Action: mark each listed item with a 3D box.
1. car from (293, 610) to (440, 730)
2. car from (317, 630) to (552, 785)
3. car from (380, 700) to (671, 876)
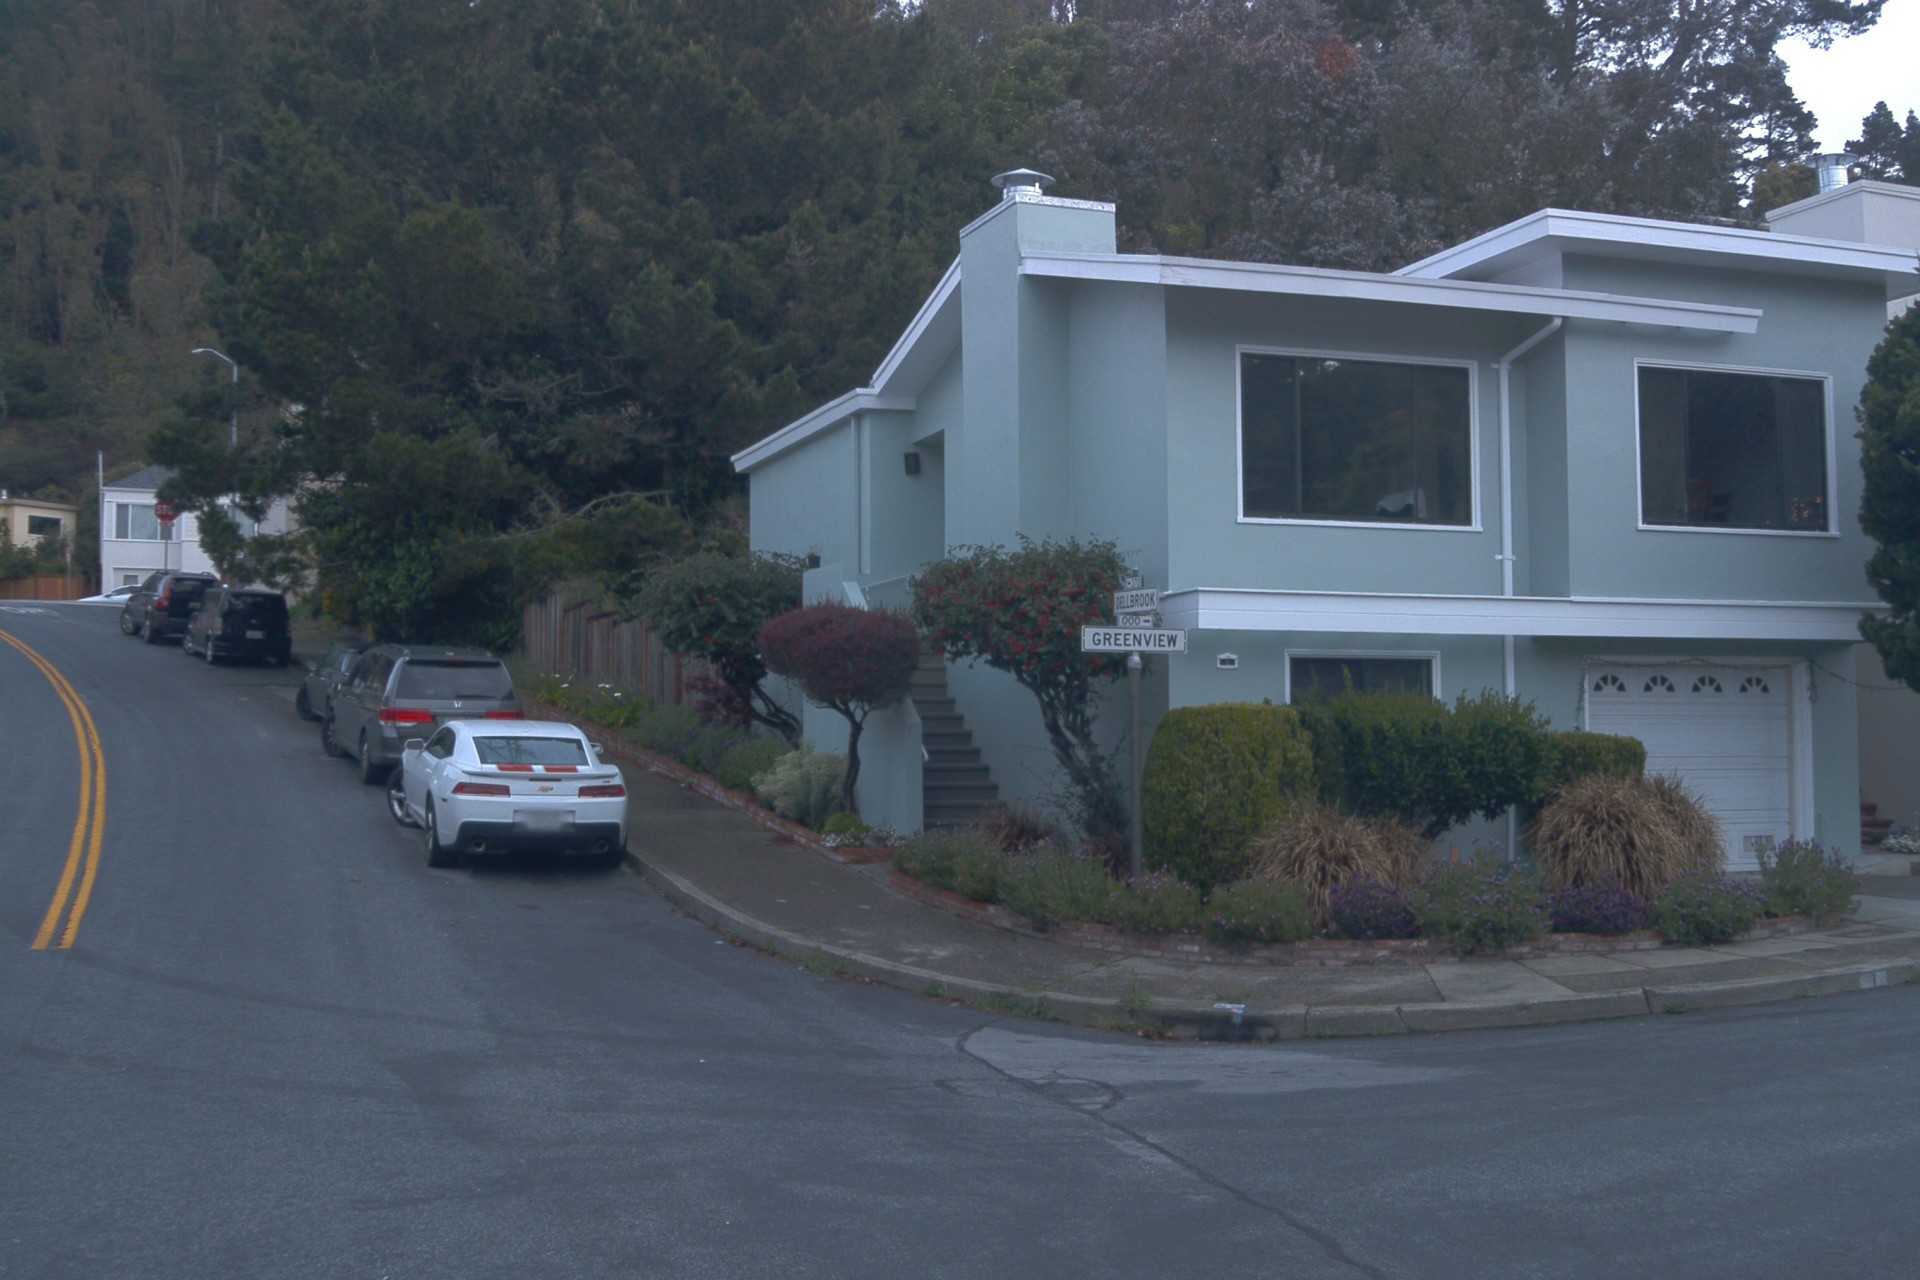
[{"bbox_3d":[-9.627,0.470,33.469,1.721,1.820,3.410,0,0,-26],"label":"car"},{"bbox_3d":[-7.220,0.841,28.079,2.315,1.910,4.713,0,0,-24],"label":"car"},{"bbox_3d":[-4.724,1.450,21.901,2.197,1.510,4.910,0,0,-22],"label":"car"}]
